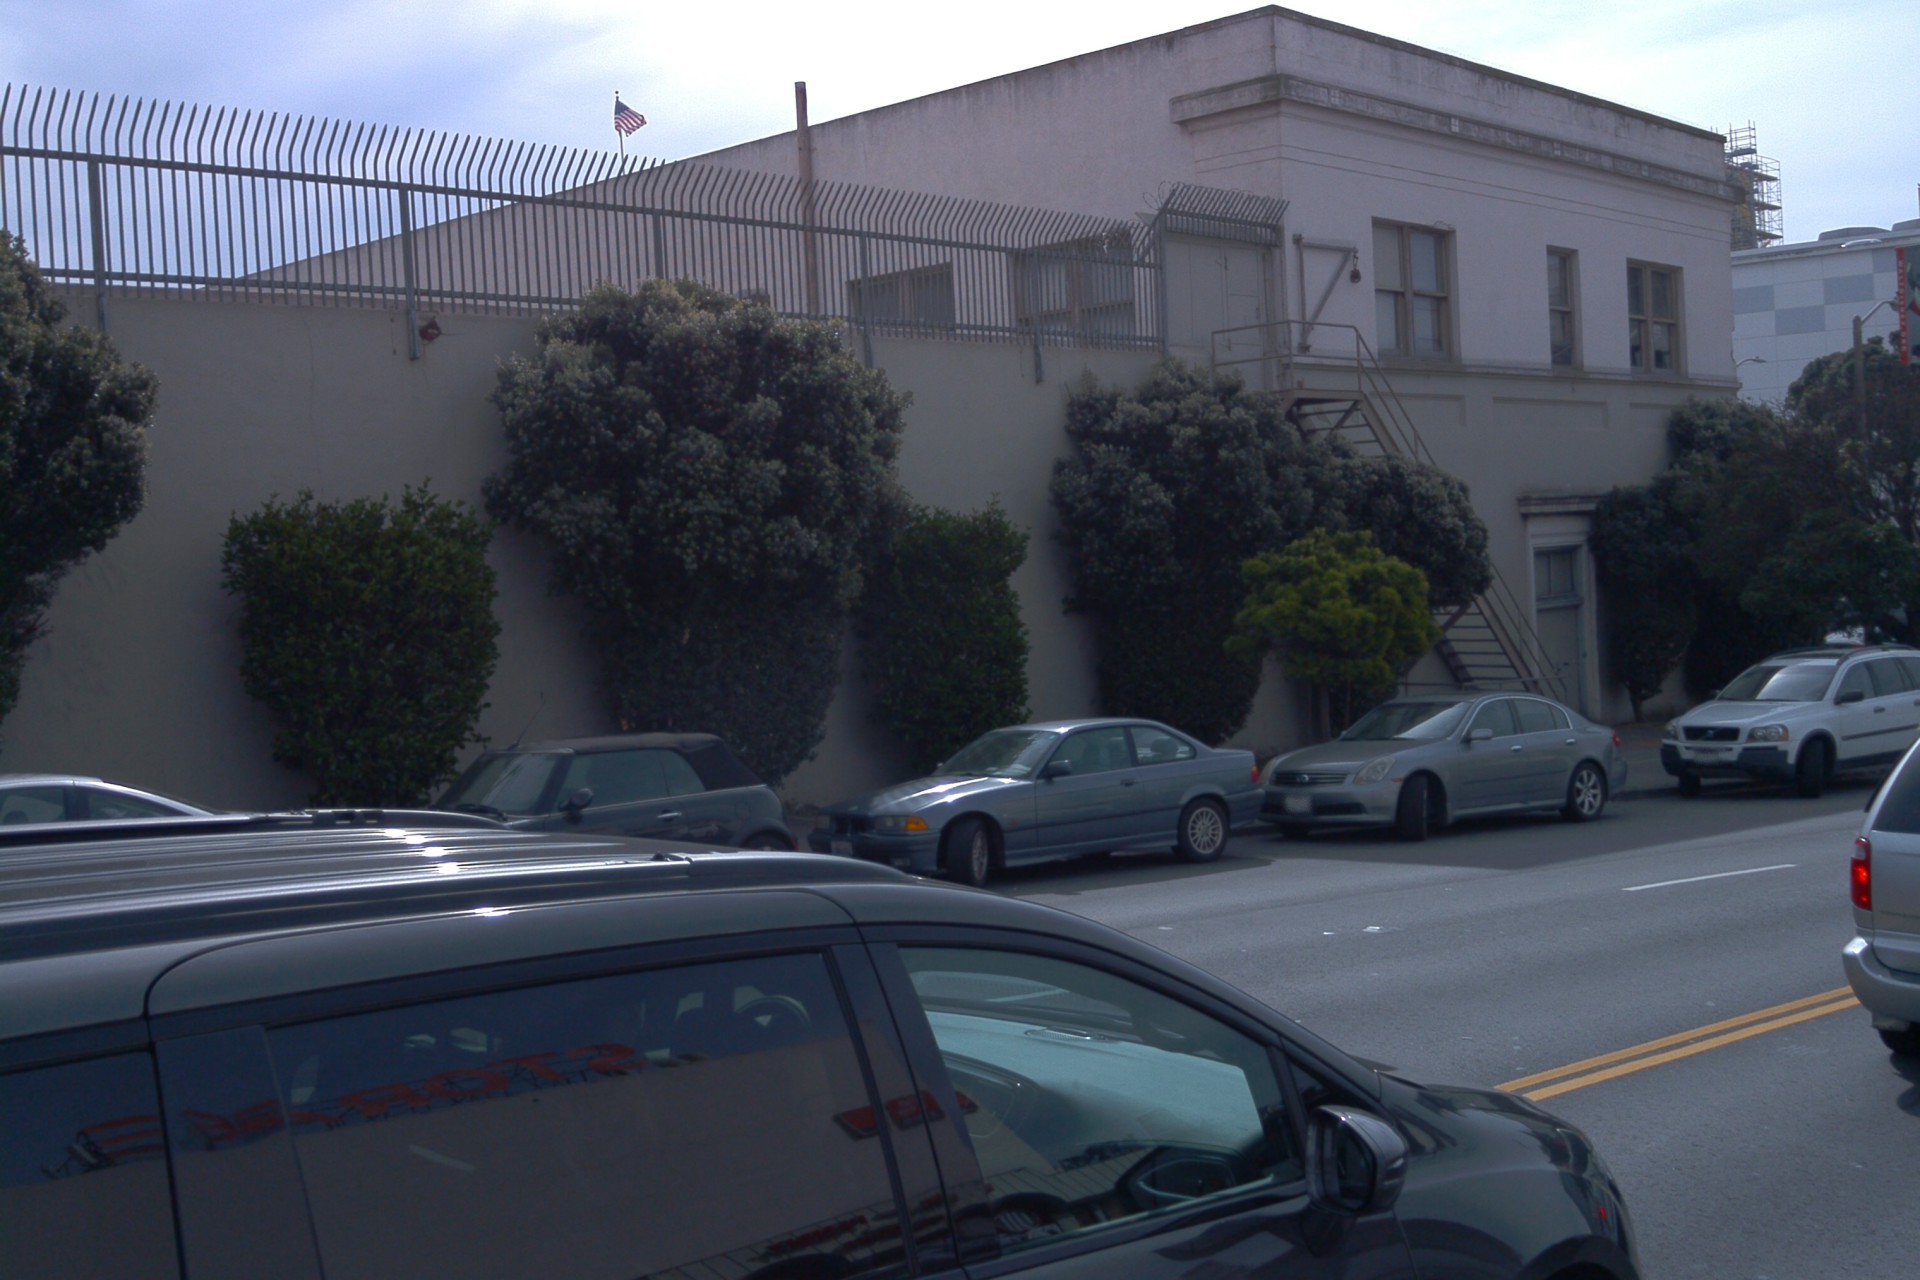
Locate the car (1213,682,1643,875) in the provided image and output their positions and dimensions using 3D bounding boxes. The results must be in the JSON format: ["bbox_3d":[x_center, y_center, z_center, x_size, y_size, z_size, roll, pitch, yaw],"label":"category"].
[{"bbox_3d":[5.011,1.349,21.684,4.687,1.660,2.019,-1,1,-41],"label":"car"}]

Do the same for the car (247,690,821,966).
[{"bbox_3d":[-3.007,1.240,14.997,1.796,1.600,3.729,1,1,44],"label":"car"}]

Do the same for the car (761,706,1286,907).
[{"bbox_3d":[0.647,1.386,18.448,4.448,1.390,2.035,-1,1,-39],"label":"car"}]
